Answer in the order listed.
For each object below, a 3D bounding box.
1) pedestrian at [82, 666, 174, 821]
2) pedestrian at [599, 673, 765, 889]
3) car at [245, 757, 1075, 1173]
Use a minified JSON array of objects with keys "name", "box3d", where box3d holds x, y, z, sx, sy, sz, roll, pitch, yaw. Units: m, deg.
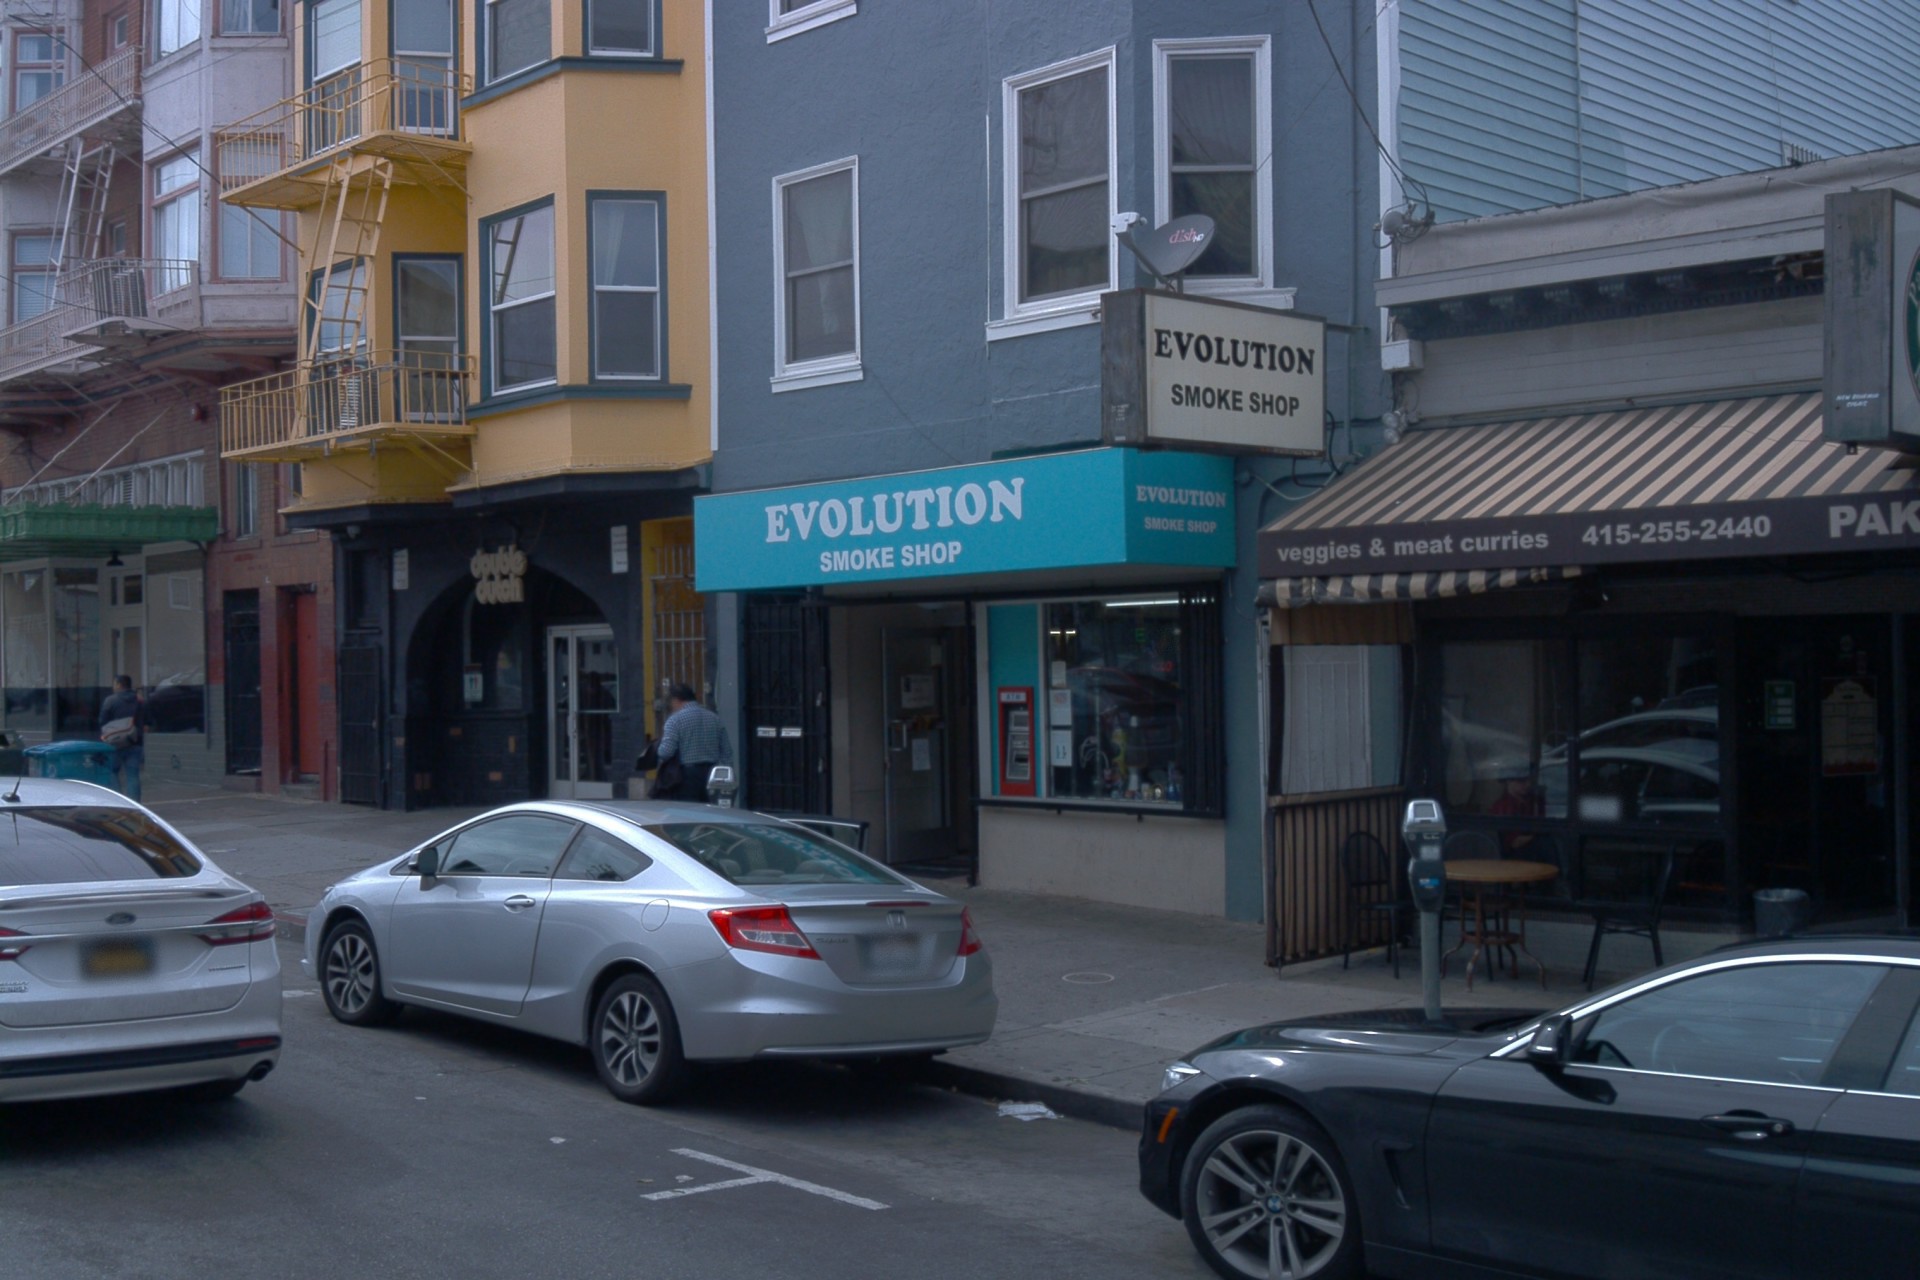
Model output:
[{"name":"pedestrian","box3d":[-9.613,1.169,23.852,0.780,1.720,0.971,-1,1,-34]},{"name":"pedestrian","box3d":[-2.354,1.158,17.486,1.069,1.724,0.963,-1,1,-34]},{"name":"car","box3d":[-1.826,1.561,11.468,4.576,1.510,2.261,0,1,45]}]
